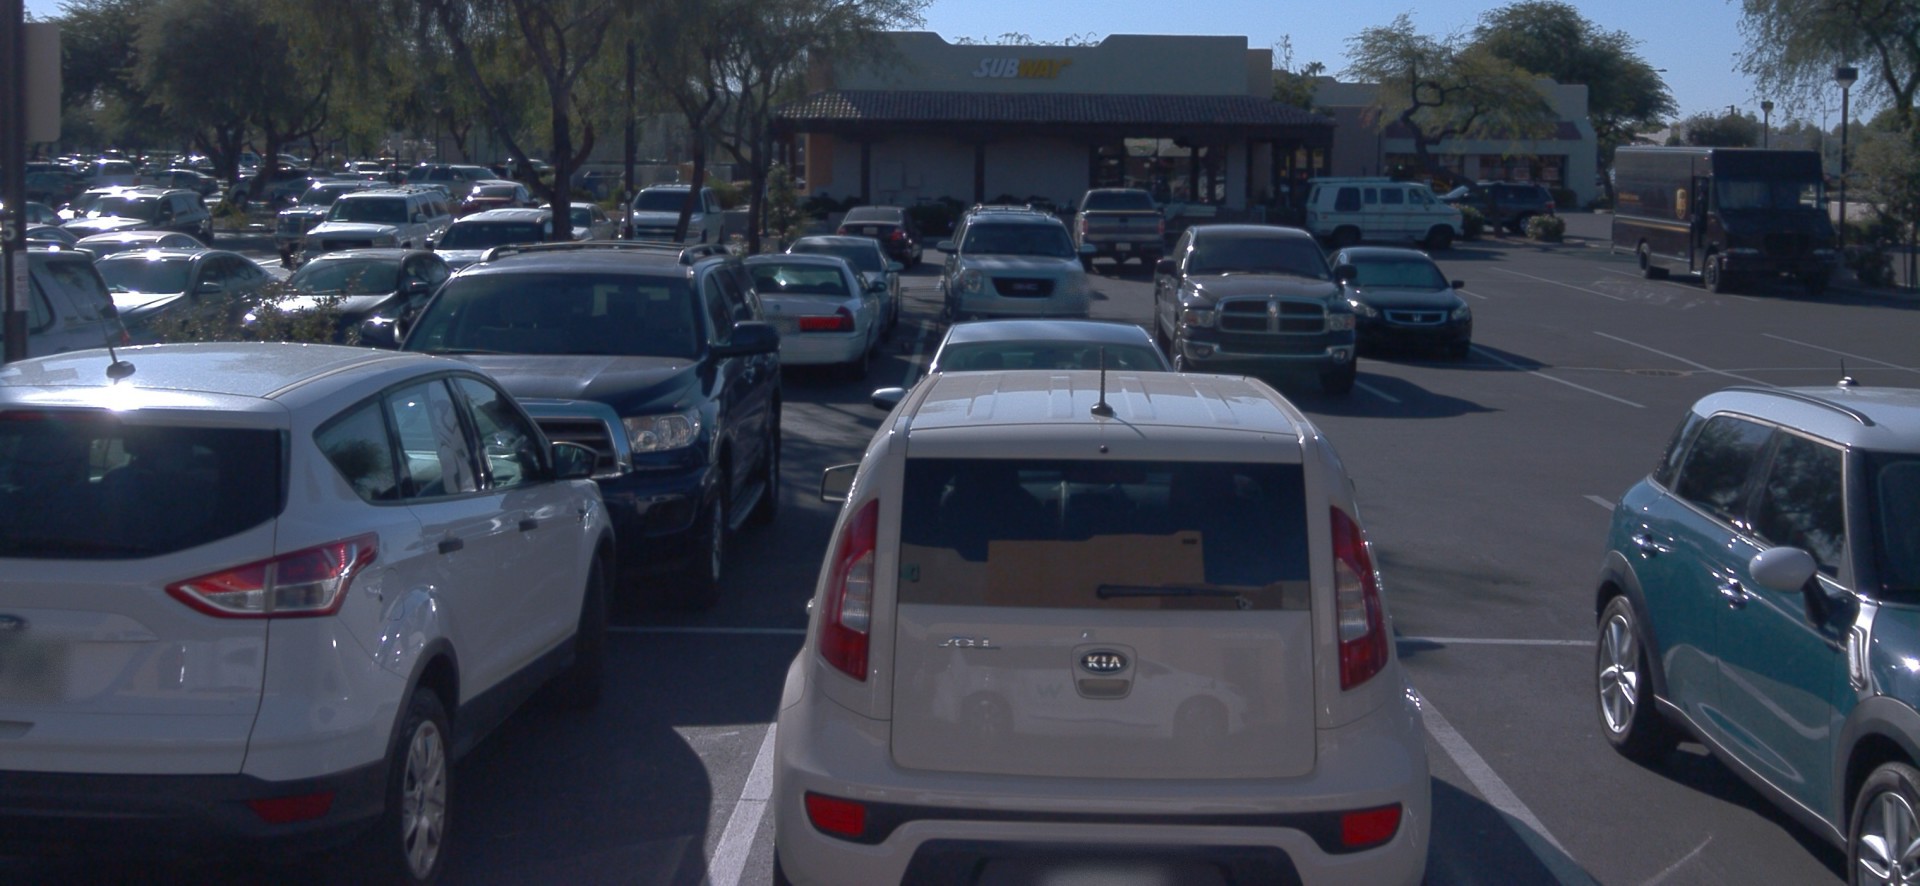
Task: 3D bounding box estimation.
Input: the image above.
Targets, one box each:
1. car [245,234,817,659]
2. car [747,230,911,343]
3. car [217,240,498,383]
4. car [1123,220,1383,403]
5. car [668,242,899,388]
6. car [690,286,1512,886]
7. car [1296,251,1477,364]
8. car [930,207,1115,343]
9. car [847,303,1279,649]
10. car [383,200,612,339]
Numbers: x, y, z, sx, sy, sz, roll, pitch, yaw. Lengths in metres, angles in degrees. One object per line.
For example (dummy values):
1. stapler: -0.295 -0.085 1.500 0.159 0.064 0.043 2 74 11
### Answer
1. car: -2.307 -0.237 12.867 2.496 2.061 5.138 1 5 -1
2. car: -1.895 -2.430 31.419 2.127 1.553 4.507 1 6 1
3. car: -7.300 -1.709 25.668 2.082 1.543 4.565 1 6 1
4. car: 3.515 -1.777 26.157 2.523 2.021 5.785 1 6 1
5. car: -2.062 -1.691 25.882 2.256 1.562 5.128 1 6 2
6. car: 0.414 0.451 7.166 2.026 1.832 4.006 1 5 2
7. car: 6.352 -2.113 31.373 1.976 1.493 4.499 1 6 2
8. car: 0.854 -2.657 31.982 2.481 1.891 5.237 0 5 -2
9. car: 0.493 0.010 12.832 2.169 1.543 4.762 1 6 -1
10. car: -6.902 -2.704 31.617 2.086 1.901 5.342 1 5 2
